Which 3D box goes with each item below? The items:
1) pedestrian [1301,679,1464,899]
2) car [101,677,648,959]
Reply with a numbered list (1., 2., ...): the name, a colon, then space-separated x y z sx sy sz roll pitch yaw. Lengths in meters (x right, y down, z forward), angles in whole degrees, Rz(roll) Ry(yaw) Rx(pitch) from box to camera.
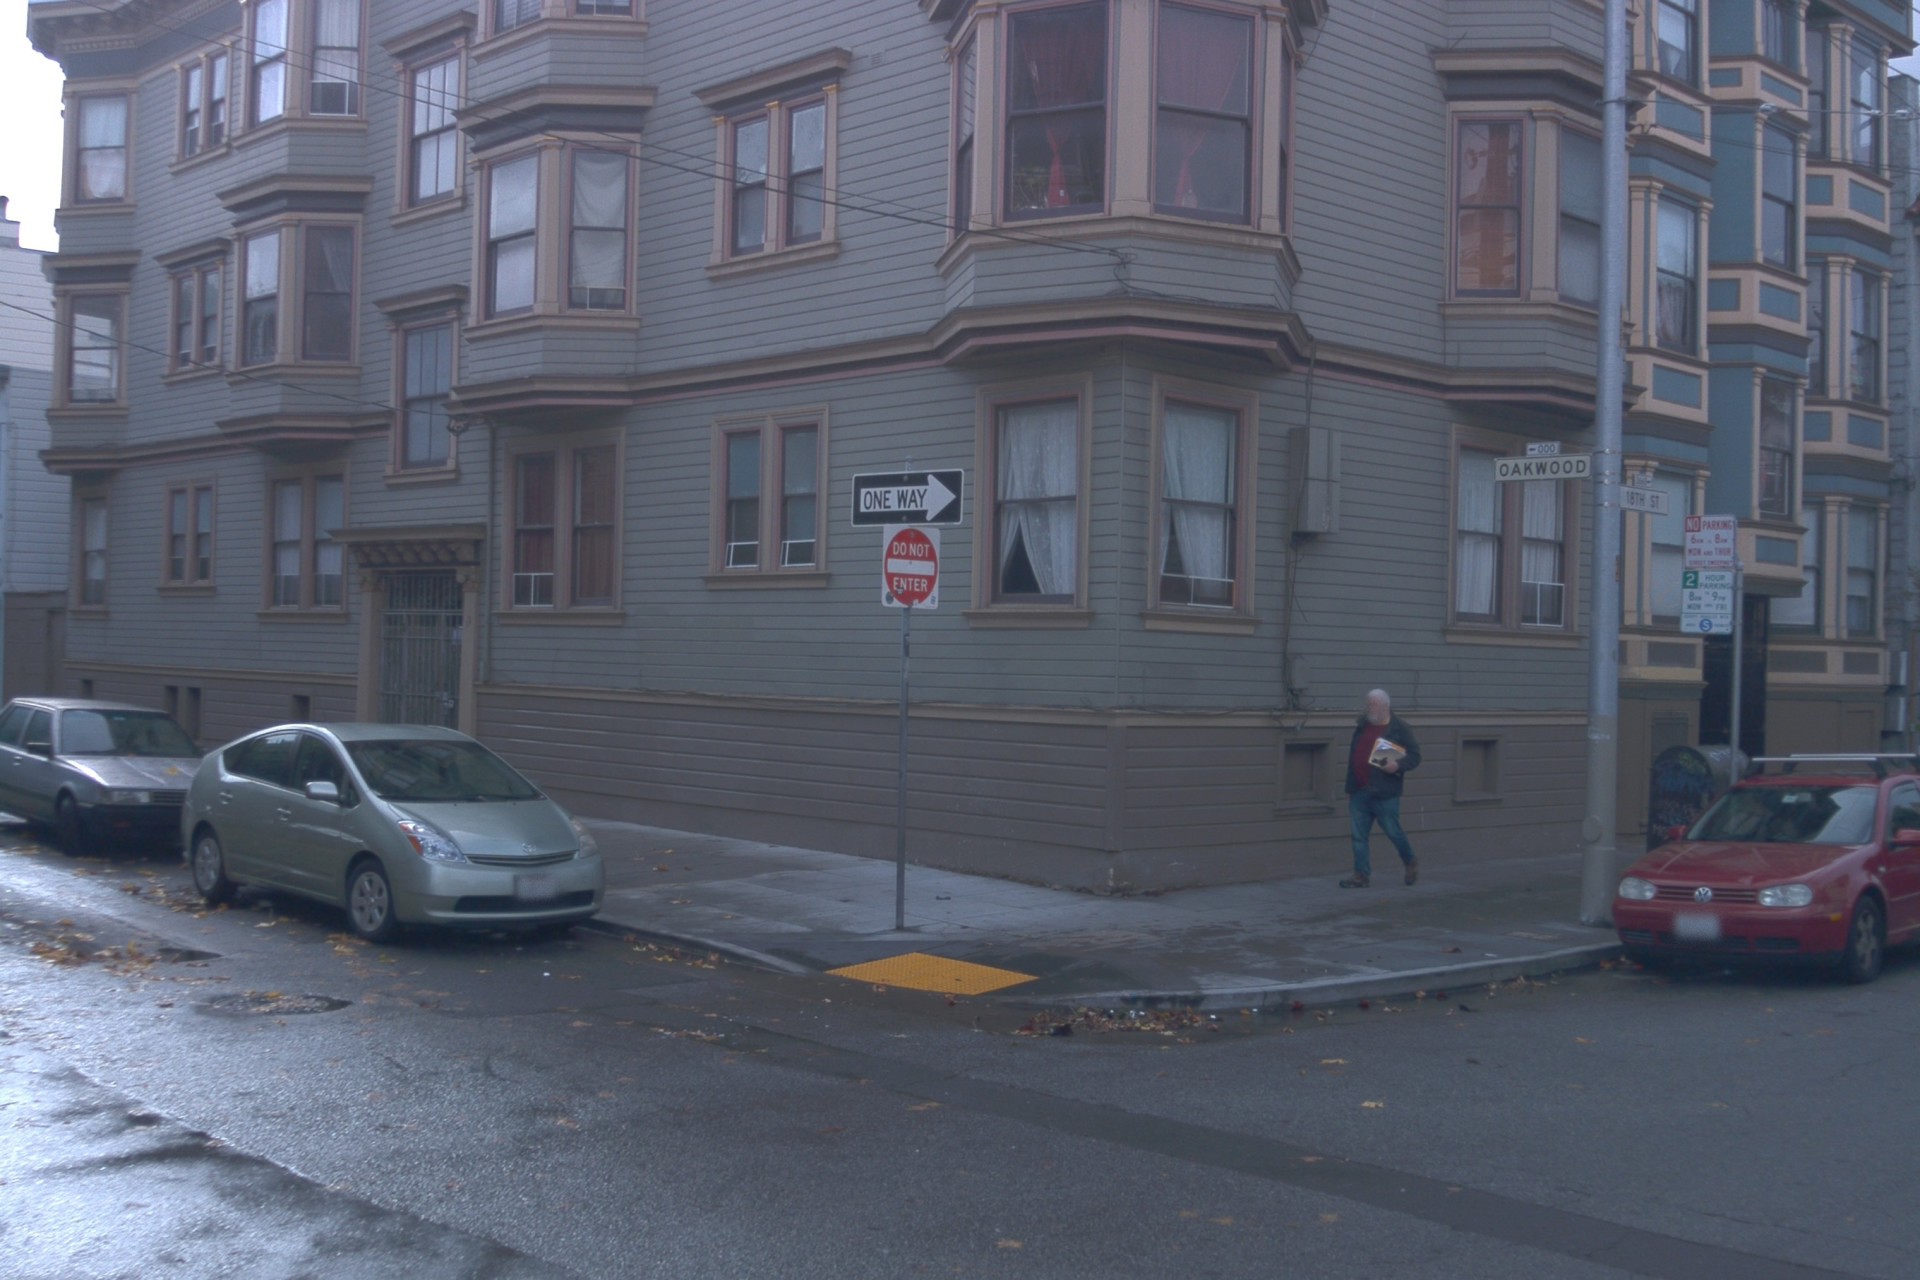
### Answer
1. pedestrian: 3.740 1.286 18.381 1.006 1.850 0.994 2 -1 -44
2. car: -4.590 1.217 15.878 4.448 1.760 2.070 0 -1 45
